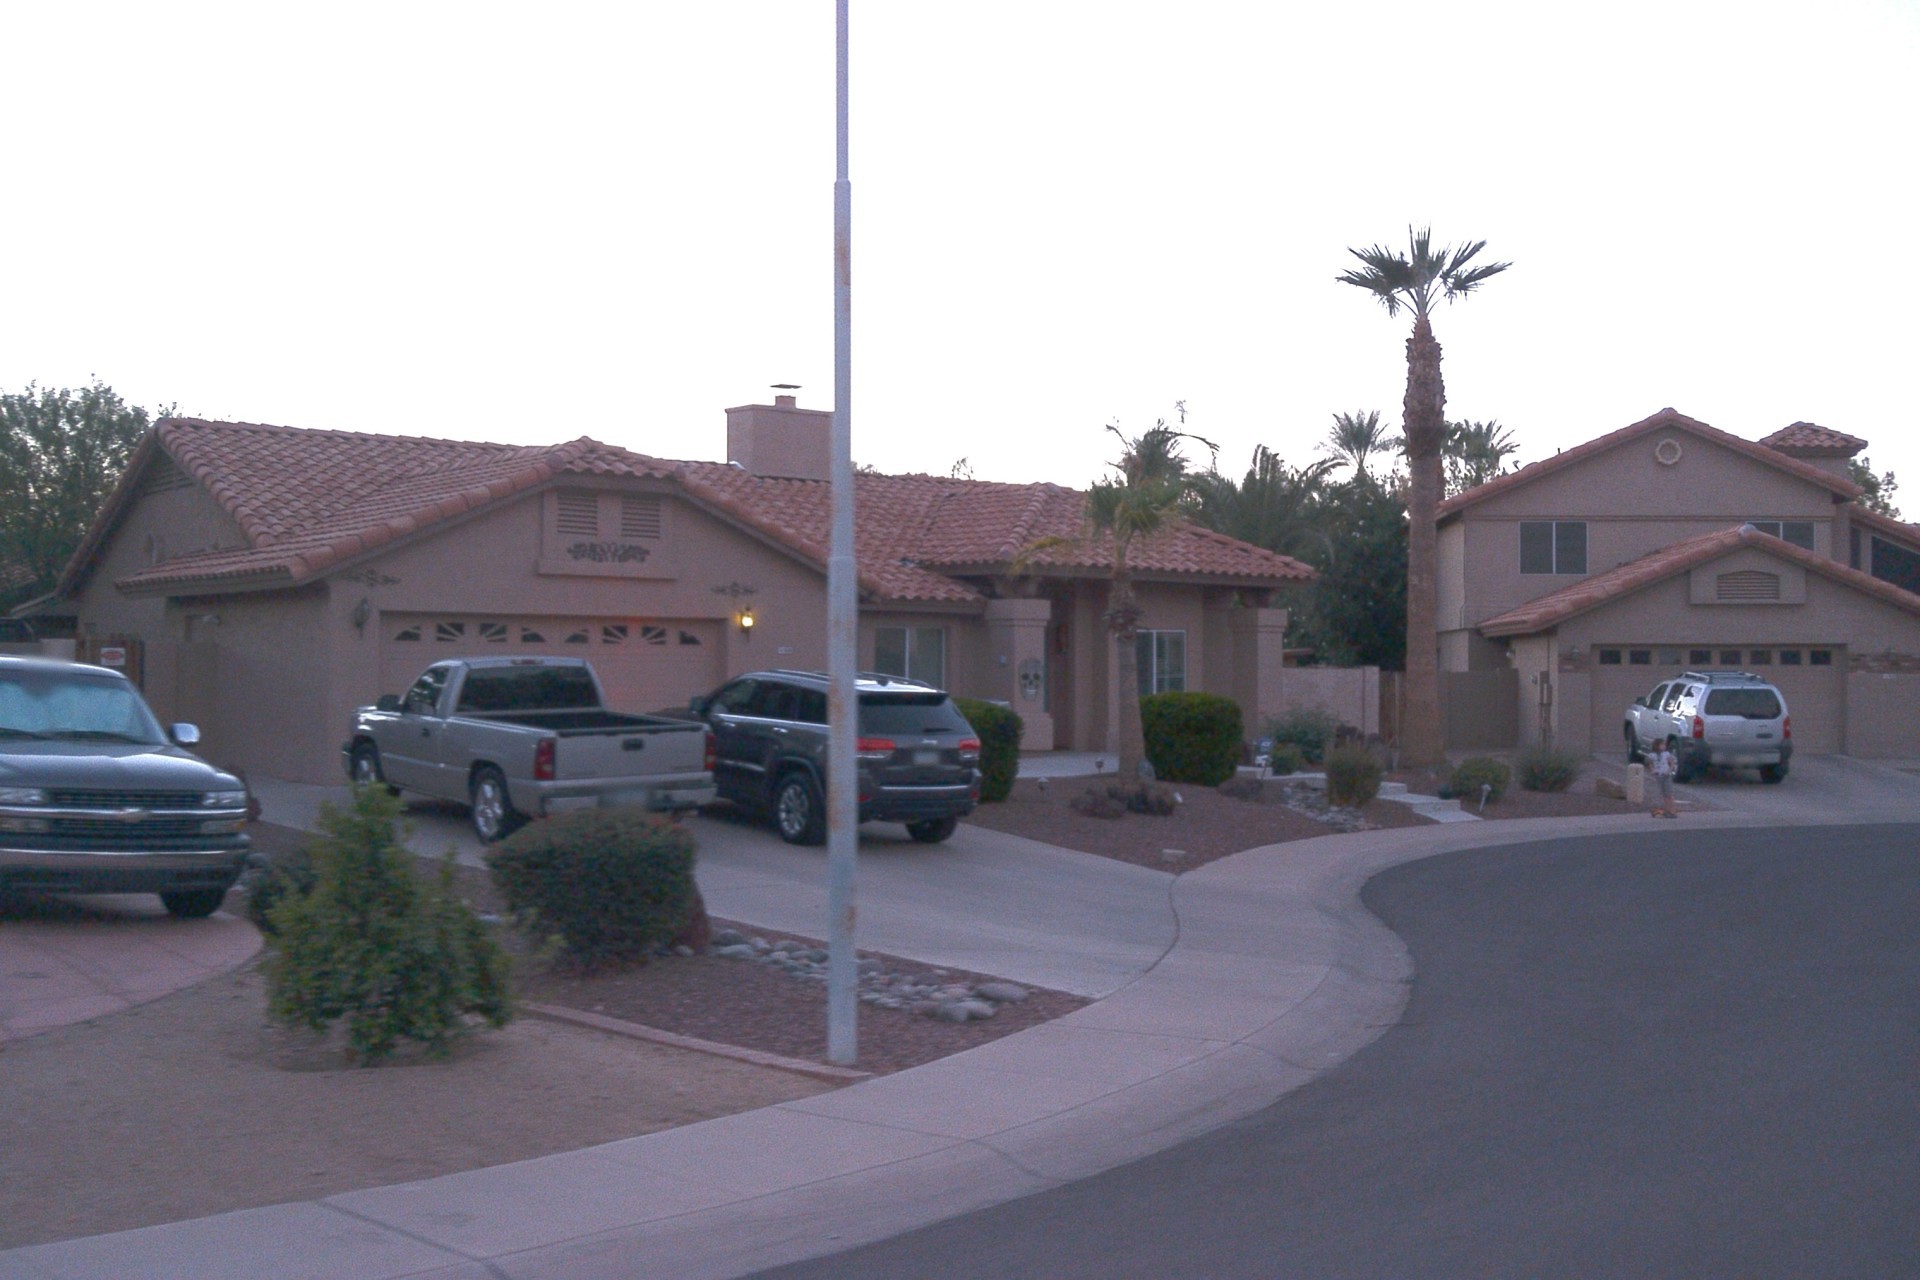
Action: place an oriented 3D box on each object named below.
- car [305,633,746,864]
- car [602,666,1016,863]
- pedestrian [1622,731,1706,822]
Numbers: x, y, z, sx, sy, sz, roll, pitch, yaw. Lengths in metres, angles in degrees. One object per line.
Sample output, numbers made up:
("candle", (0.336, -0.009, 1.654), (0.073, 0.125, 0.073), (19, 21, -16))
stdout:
("car", (-4.673, 1.005, 21.688), (2.426, 2.100, 5.136), (1, -1, -39))
("car", (-1.775, 1.257, 22.820), (2.190, 1.860, 4.761), (1, -1, -39))
("pedestrian", (10.358, 1.991, 30.509), (1.099, 1.280, 0.644), (1, -1, -37))
